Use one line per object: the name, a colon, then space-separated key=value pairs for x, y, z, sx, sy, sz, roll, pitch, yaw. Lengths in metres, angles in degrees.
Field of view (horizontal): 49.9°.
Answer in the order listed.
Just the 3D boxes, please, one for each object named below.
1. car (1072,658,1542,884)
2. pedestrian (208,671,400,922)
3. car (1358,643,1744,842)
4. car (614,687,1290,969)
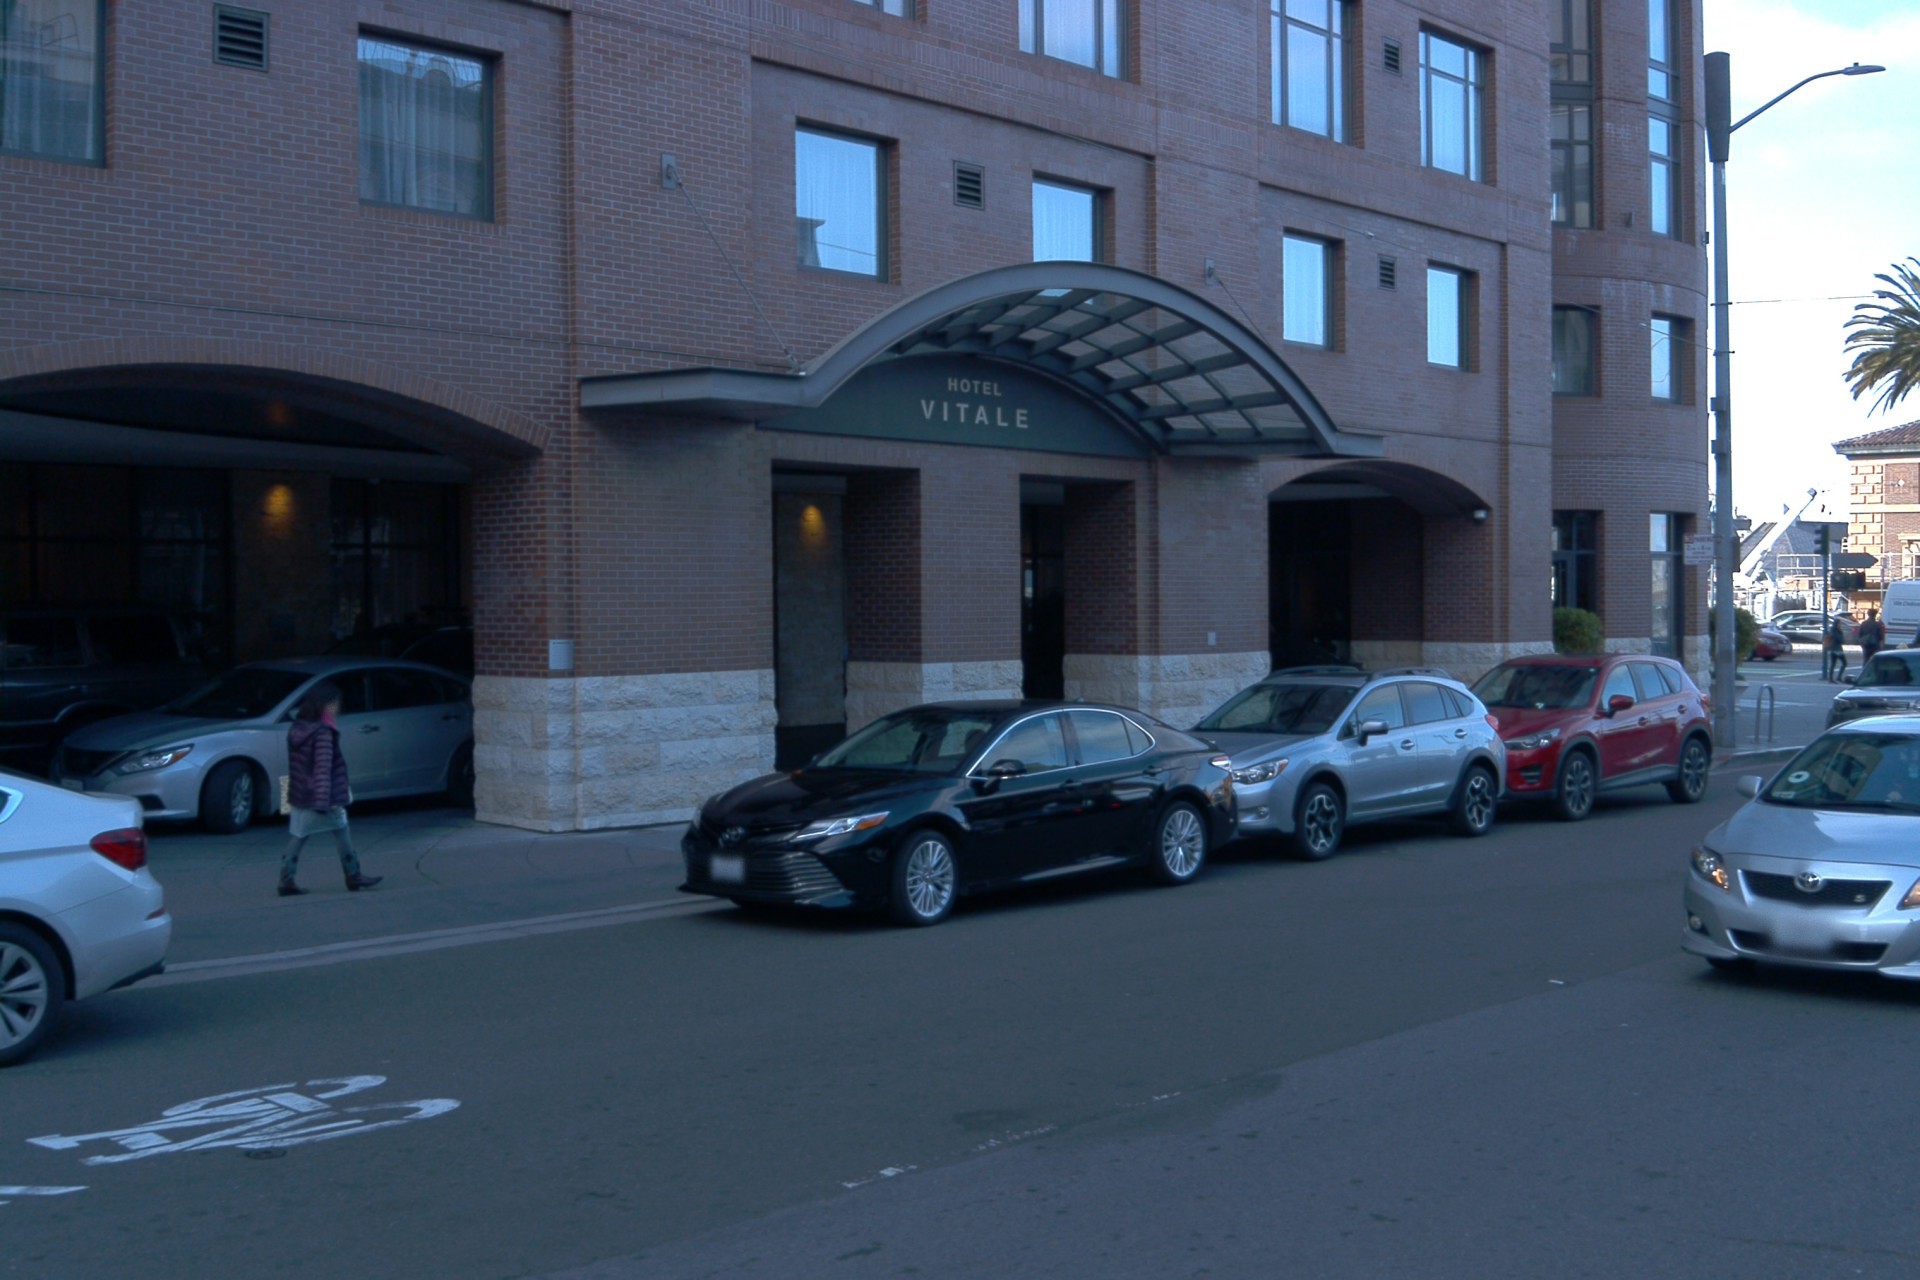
car: x=3.258 y=1.063 z=18.751 sx=2.045 sy=1.693 sz=4.467 roll=1 pitch=1 yaw=44
pedestrian: x=-4.462 y=1.025 z=14.031 sx=0.934 sy=1.584 sz=0.956 roll=-1 pitch=1 yaw=-41
car: x=6.412 y=0.984 z=22.116 sx=2.120 sy=1.830 sz=4.483 roll=1 pitch=1 yaw=44
car: x=0.119 y=1.206 z=15.168 sx=2.204 sy=1.534 sz=4.940 roll=1 pitch=1 yaw=42
